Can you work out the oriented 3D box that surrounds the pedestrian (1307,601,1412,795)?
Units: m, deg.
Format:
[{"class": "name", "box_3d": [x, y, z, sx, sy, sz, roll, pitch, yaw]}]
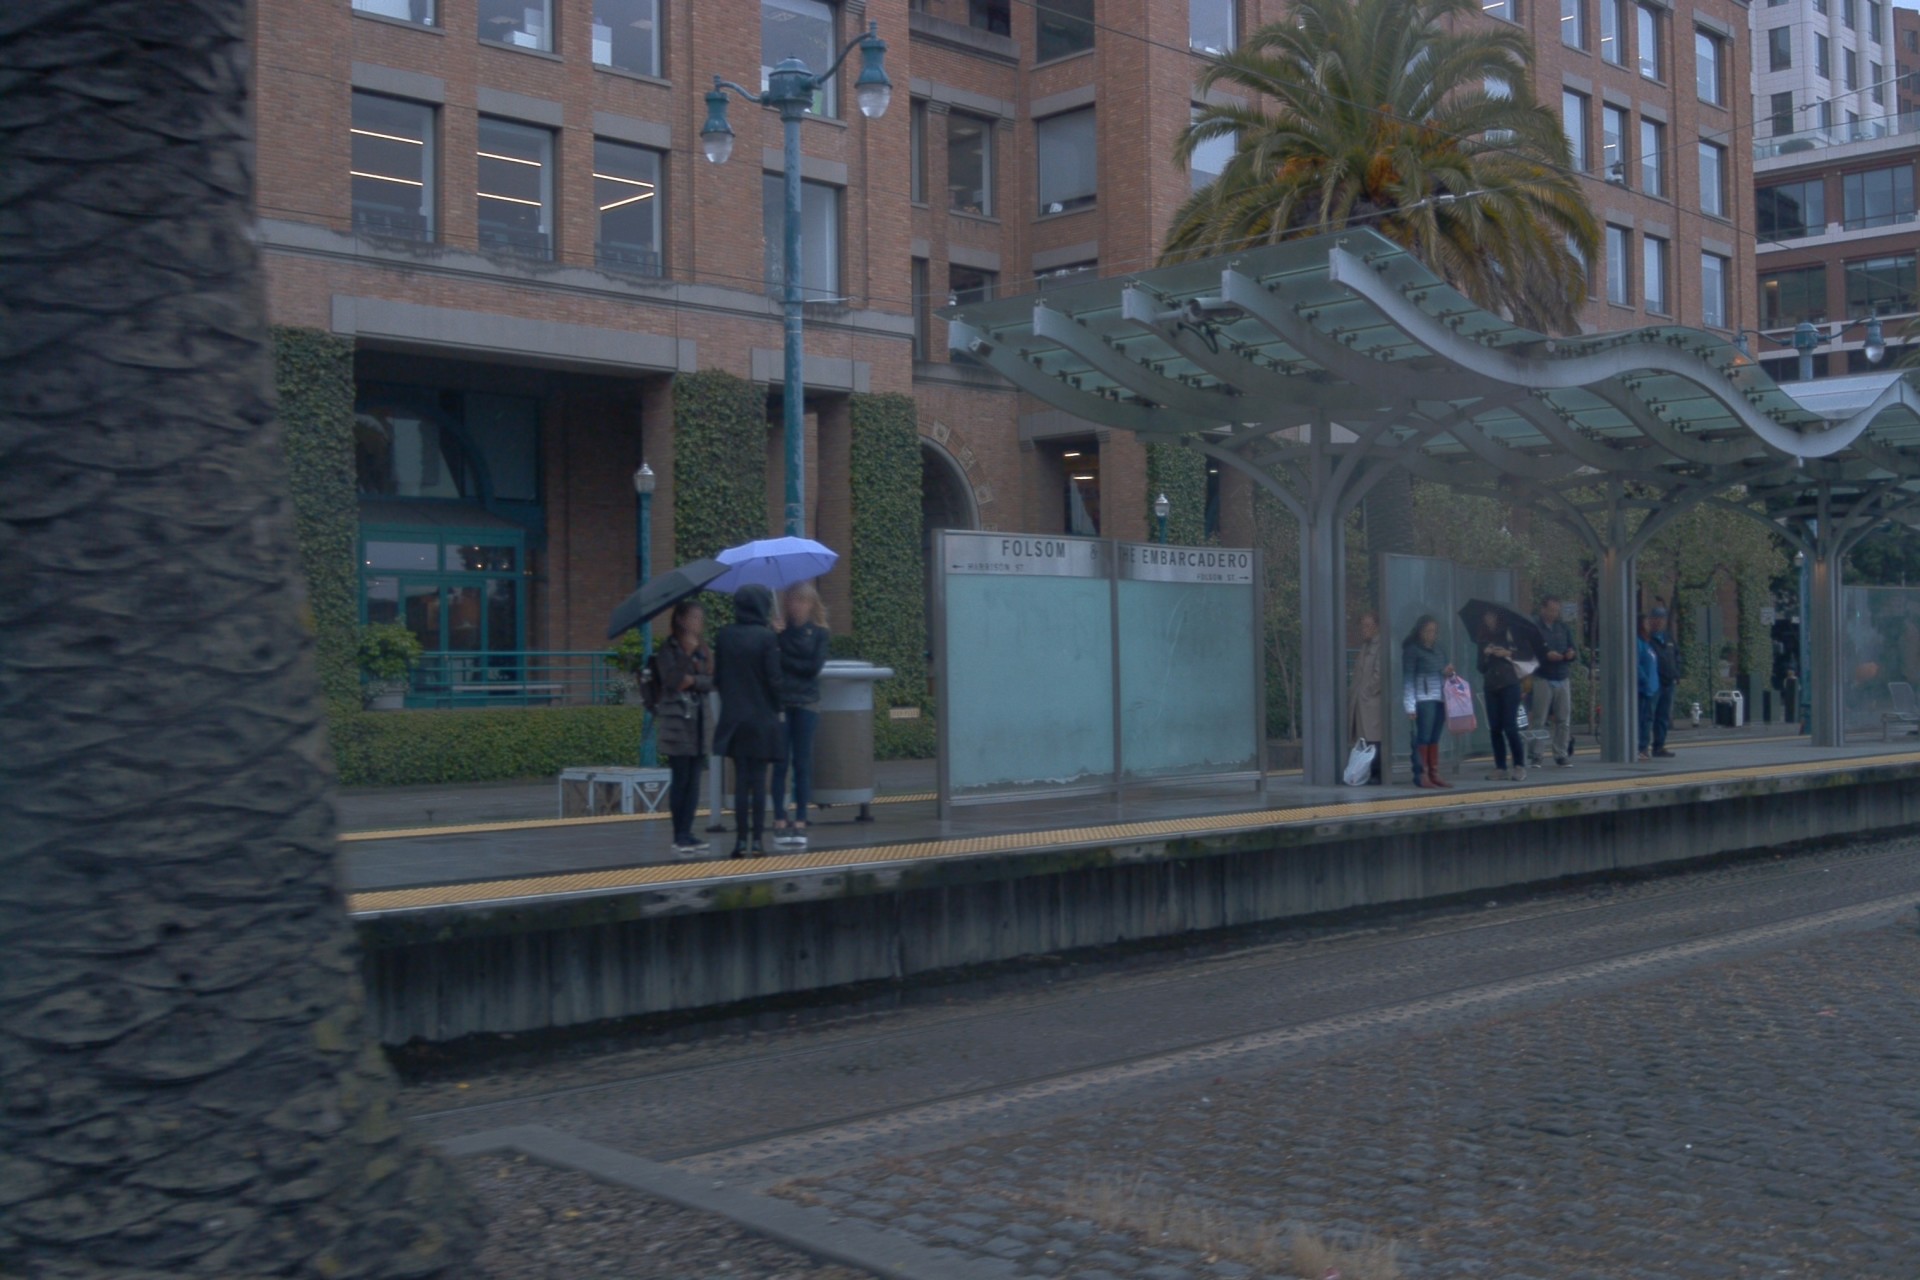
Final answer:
[{"class": "pedestrian", "box_3d": [3.693, 0.523, 19.210, 0.717, 1.740, 0.720, 0, 0, 34]}]

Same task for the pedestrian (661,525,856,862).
[{"class": "pedestrian", "box_3d": [-1.277, 0.325, 13.329, 0.898, 2.060, 0.994, 0, 0, 20]}]

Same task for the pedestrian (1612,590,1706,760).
[{"class": "pedestrian", "box_3d": [8.104, 0.394, 24.107, 0.786, 1.930, 0.696, 0, 0, -31]}]

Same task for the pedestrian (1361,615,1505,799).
[{"class": "pedestrian", "box_3d": [4.236, 0.581, 18.665, 0.956, 1.600, 0.871, 0, 0, -20]}]

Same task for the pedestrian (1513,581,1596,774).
[{"class": "pedestrian", "box_3d": [6.271, 0.390, 21.959, 0.627, 2.008, 0.717, 0, 0, -7]}]

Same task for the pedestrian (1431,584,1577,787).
[{"class": "pedestrian", "box_3d": [5.198, 0.419, 19.855, 1.061, 1.867, 0.941, 0, 0, -45]}]

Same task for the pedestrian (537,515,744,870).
[{"class": "pedestrian", "box_3d": [-1.917, 0.303, 12.628, 0.921, 2.050, 1.112, 0, 0, 10]}]

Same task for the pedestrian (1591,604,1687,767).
[{"class": "pedestrian", "box_3d": [7.695, 0.504, 23.569, 0.786, 1.810, 0.696, 0, 0, -31]}]

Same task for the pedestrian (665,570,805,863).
[{"class": "pedestrian", "box_3d": [-1.325, 0.440, 12.371, 0.764, 1.690, 0.770, 0, 0, -2]}]
